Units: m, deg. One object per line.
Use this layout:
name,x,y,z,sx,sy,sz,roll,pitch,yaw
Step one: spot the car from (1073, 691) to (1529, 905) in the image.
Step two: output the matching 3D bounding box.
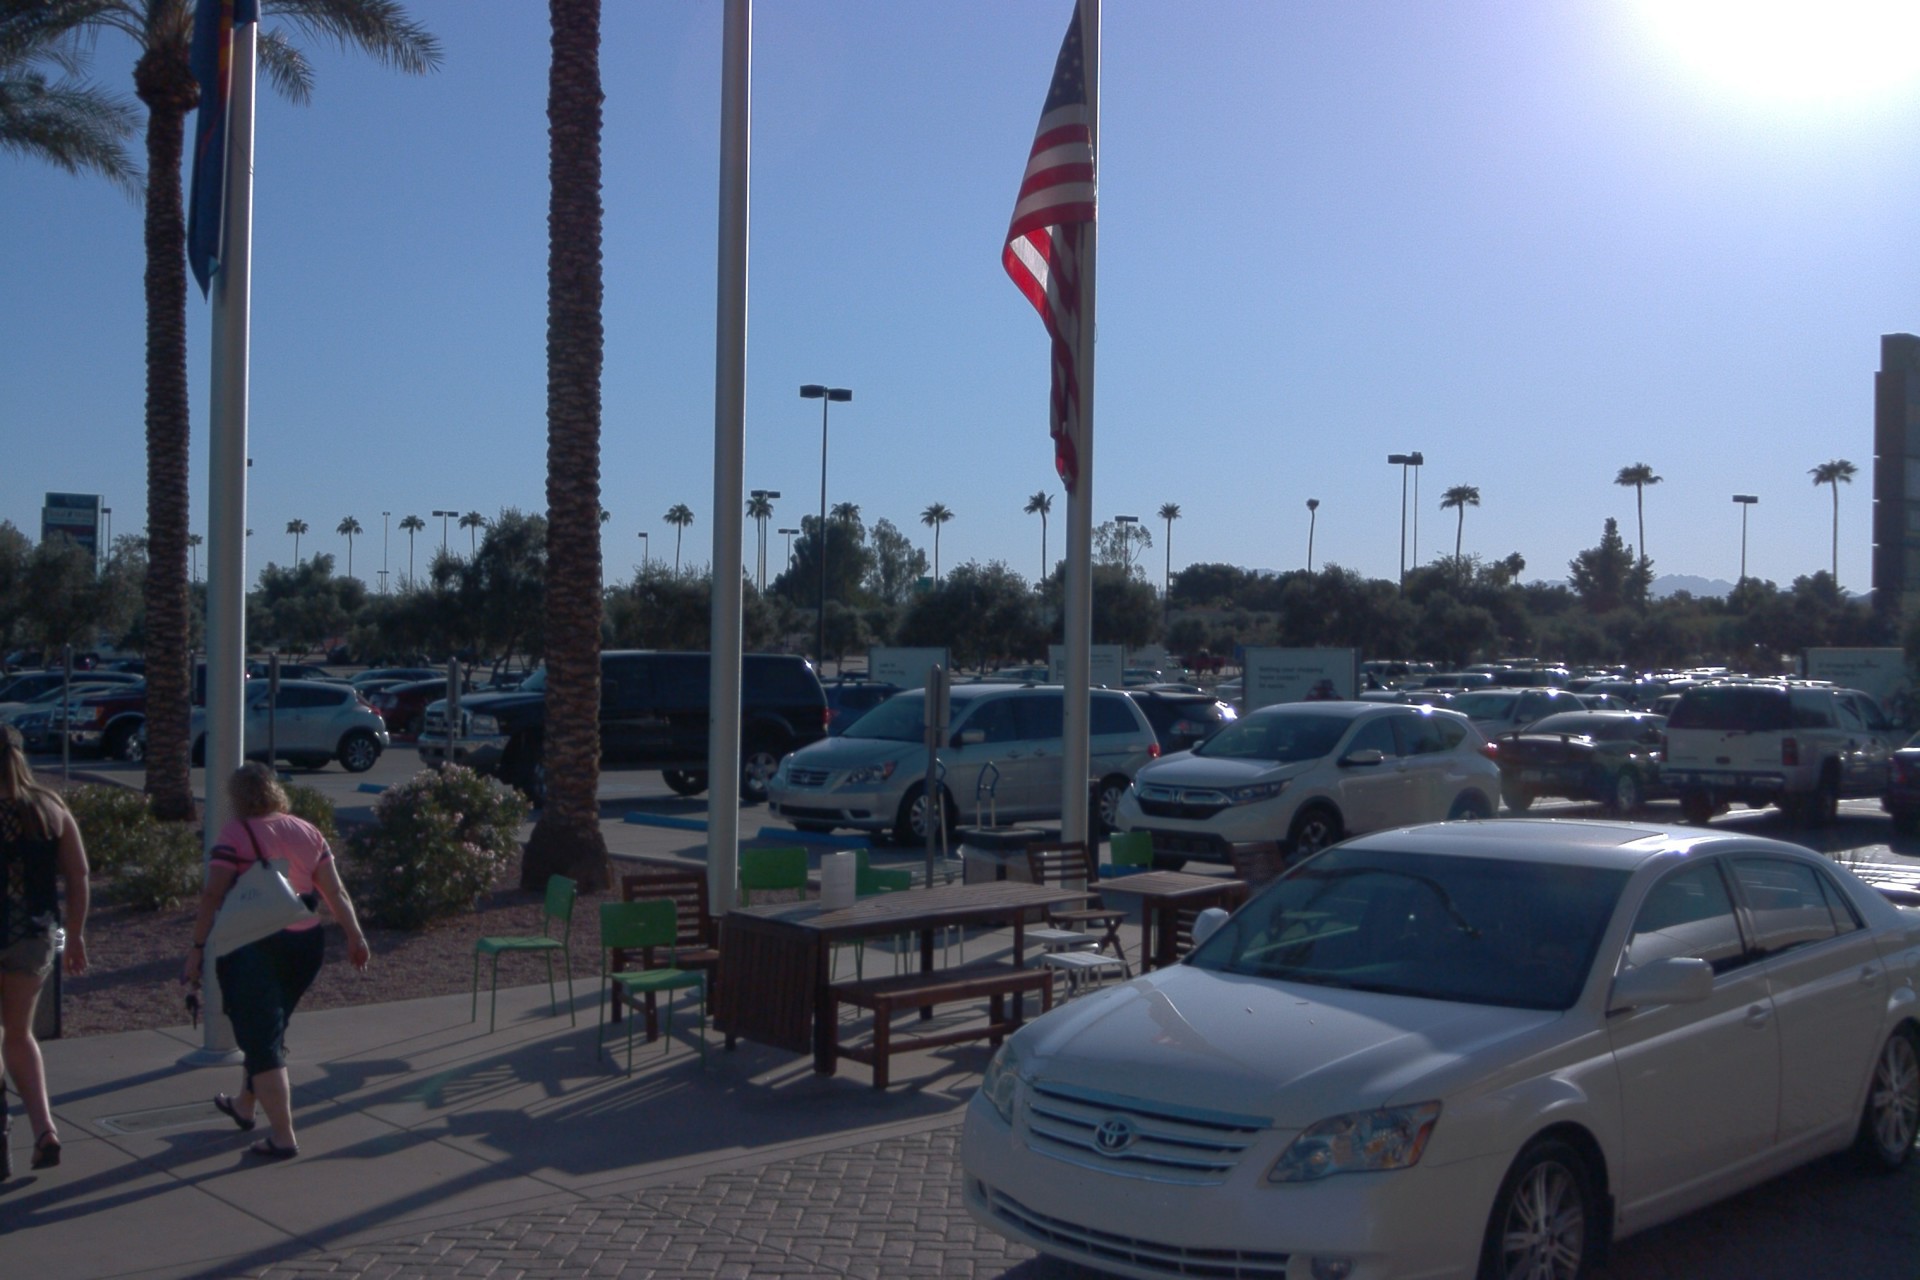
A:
car,3.380,1.392,19.828,2.159,1.710,4.564,0,0,43

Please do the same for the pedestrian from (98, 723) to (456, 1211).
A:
pedestrian,-2.837,1.280,8.606,0.998,1.810,1.002,0,0,36

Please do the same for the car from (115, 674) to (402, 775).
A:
car,-11.728,1.363,34.686,4.106,1.550,1.967,1,0,-45

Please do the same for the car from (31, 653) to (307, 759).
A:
car,-13.858,1.113,36.327,2.018,1.730,4.046,0,0,44

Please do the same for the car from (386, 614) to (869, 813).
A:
car,-4.510,0.937,28.805,6.160,2.490,2.672,1,0,-42

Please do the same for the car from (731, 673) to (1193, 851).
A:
car,0.148,1.293,23.879,2.246,1.780,5.286,0,0,45

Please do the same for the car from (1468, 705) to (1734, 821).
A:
car,9.613,1.774,30.790,4.346,1.490,1.909,1,0,-44

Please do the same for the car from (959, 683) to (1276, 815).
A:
car,2.369,1.609,31.914,2.205,1.770,4.563,1,0,-44
